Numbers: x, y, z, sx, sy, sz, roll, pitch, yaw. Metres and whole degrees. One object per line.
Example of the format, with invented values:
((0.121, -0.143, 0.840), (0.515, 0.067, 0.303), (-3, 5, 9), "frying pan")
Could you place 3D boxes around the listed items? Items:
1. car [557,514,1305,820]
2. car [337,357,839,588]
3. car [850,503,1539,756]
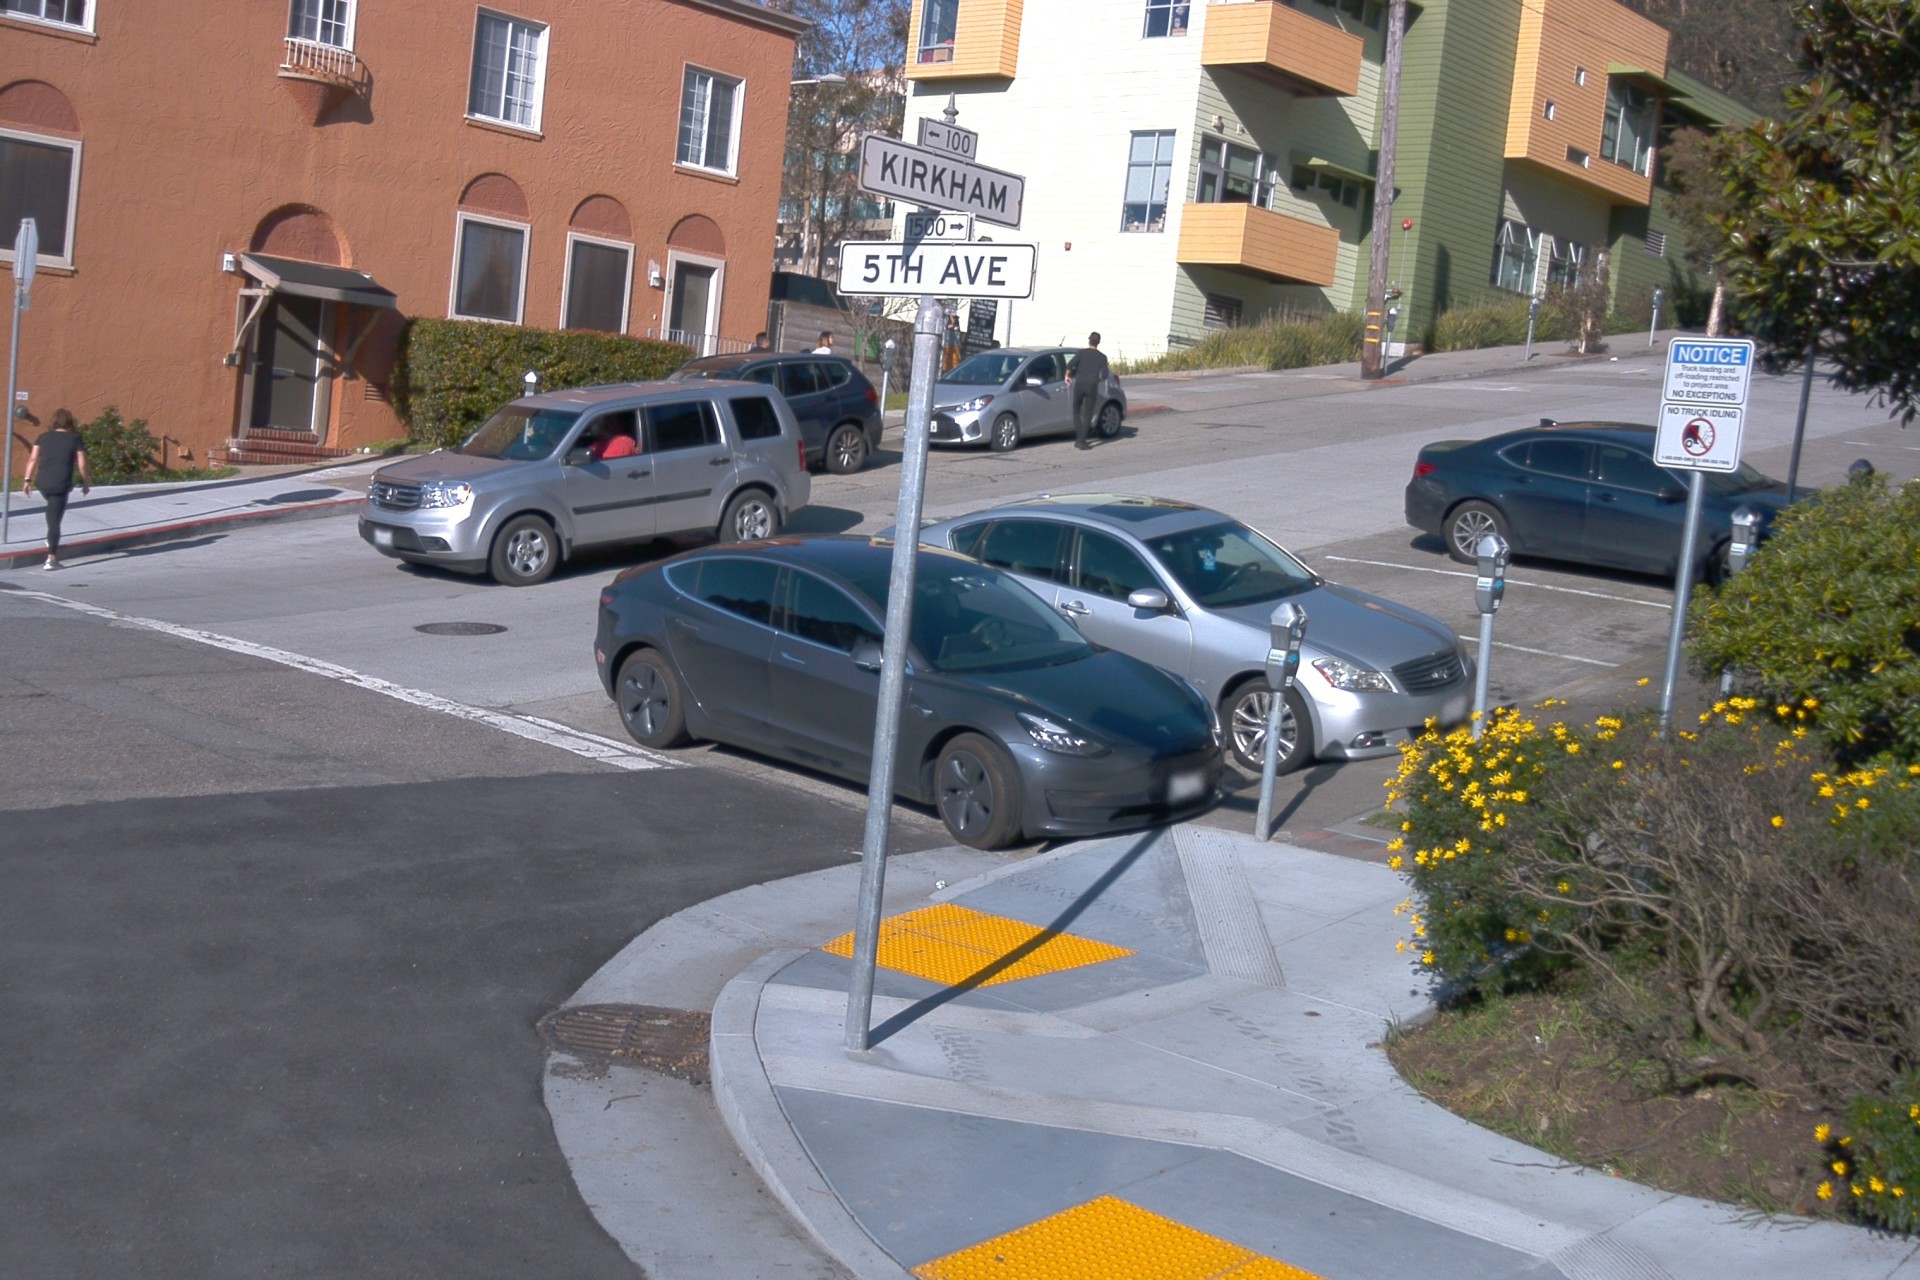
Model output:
((-0.333, 0.143, 13.398), (4.636, 1.620, 2.044), (0, 0, 43), "car")
((-3.718, -1.596, 21.619), (4.808, 1.970, 1.976), (1, 0, -44), "car")
((1.579, -0.065, 15.144), (4.561, 1.560, 2.064), (0, 0, 40), "car")
